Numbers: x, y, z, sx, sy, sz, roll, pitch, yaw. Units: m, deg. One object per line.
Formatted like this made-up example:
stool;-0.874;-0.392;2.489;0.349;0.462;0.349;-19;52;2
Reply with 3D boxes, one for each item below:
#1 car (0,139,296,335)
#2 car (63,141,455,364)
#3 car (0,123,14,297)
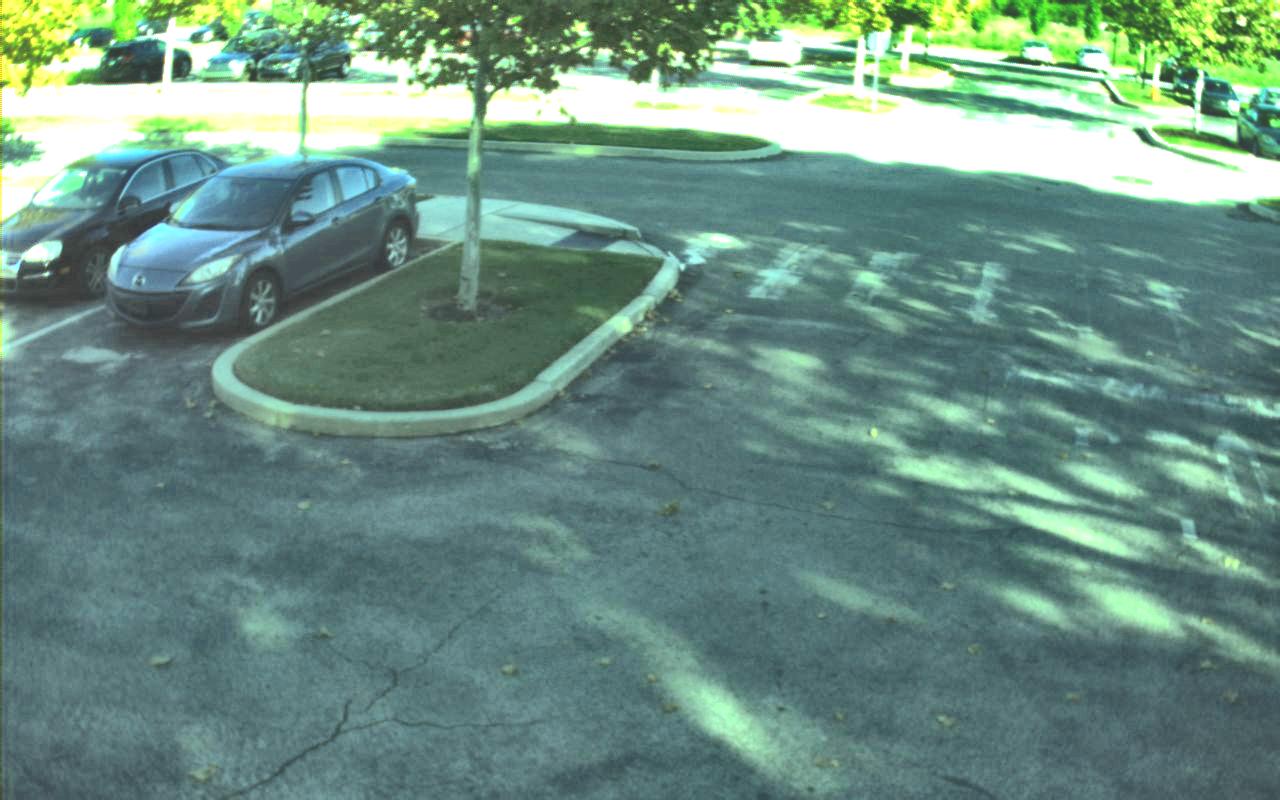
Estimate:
car;-6.331;-2.110;14.245;1.933;1.543;4.471;6;18;23
car;-3.955;-1.759;13.017;1.921;1.532;4.528;5;18;21
car;-11.356;-2.789;15.262;1.975;1.713;4.645;3;17;14
